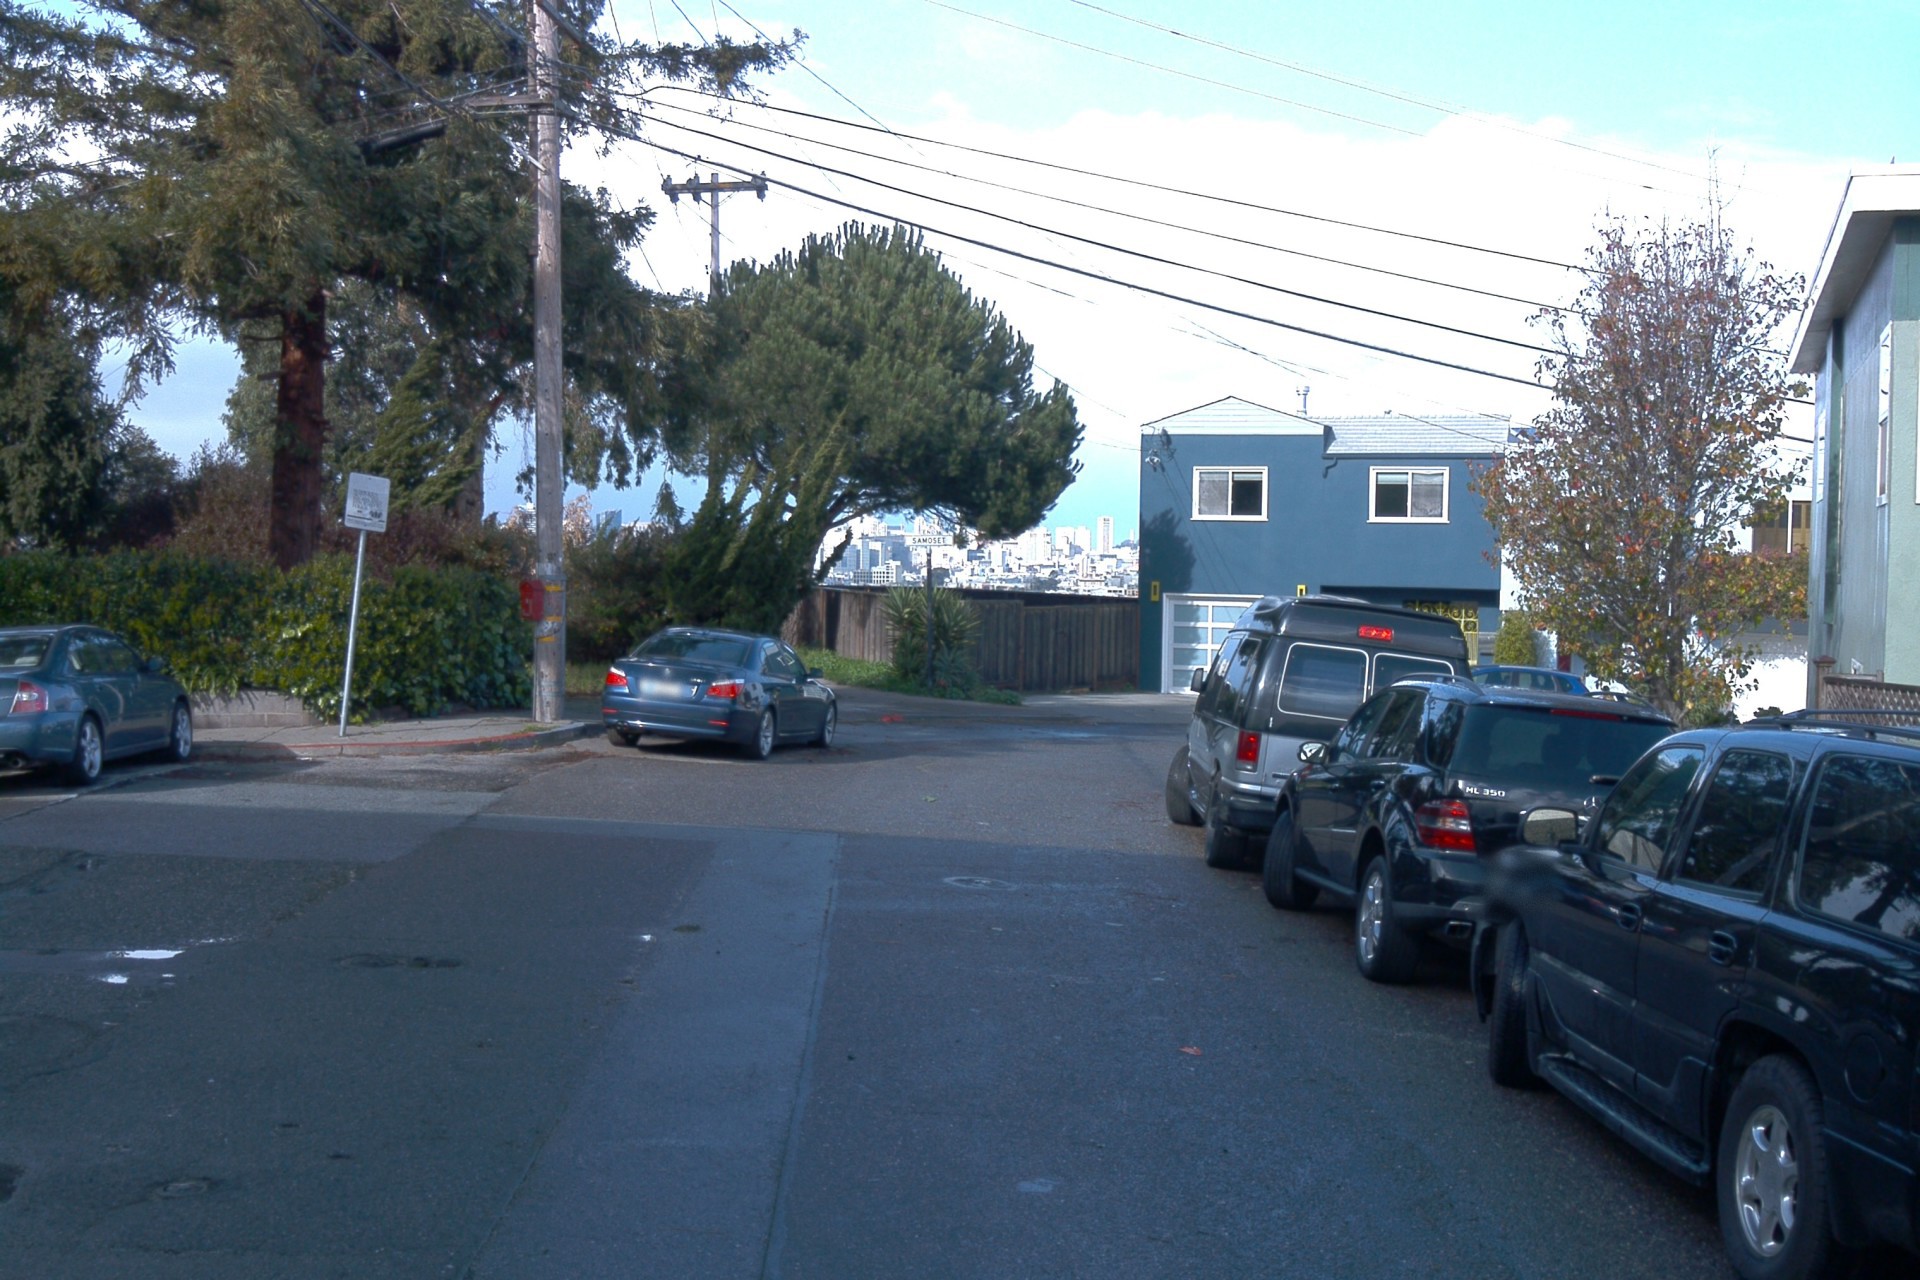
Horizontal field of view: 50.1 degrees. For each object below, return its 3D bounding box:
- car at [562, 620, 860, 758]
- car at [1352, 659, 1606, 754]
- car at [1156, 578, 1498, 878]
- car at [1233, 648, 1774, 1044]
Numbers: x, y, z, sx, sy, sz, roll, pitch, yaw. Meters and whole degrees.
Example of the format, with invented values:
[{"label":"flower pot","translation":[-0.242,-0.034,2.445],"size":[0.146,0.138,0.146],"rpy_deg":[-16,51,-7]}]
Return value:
[{"label":"car","translation":[-2.836,0.501,24.606],"size":[2.158,1.430,4.595],"rpy_deg":[1,1,12]},{"label":"car","translation":[9.280,1.184,36.967],"size":[4.015,1.560,1.834],"rpy_deg":[1,1,-3]},{"label":"car","translation":[3.098,0.634,18.654],"size":[2.287,2.280,5.498],"rpy_deg":[1,1,2]},{"label":"car","translation":[3.180,1.100,13.195],"size":[2.070,1.960,4.717],"rpy_deg":[1,1,-1]}]
